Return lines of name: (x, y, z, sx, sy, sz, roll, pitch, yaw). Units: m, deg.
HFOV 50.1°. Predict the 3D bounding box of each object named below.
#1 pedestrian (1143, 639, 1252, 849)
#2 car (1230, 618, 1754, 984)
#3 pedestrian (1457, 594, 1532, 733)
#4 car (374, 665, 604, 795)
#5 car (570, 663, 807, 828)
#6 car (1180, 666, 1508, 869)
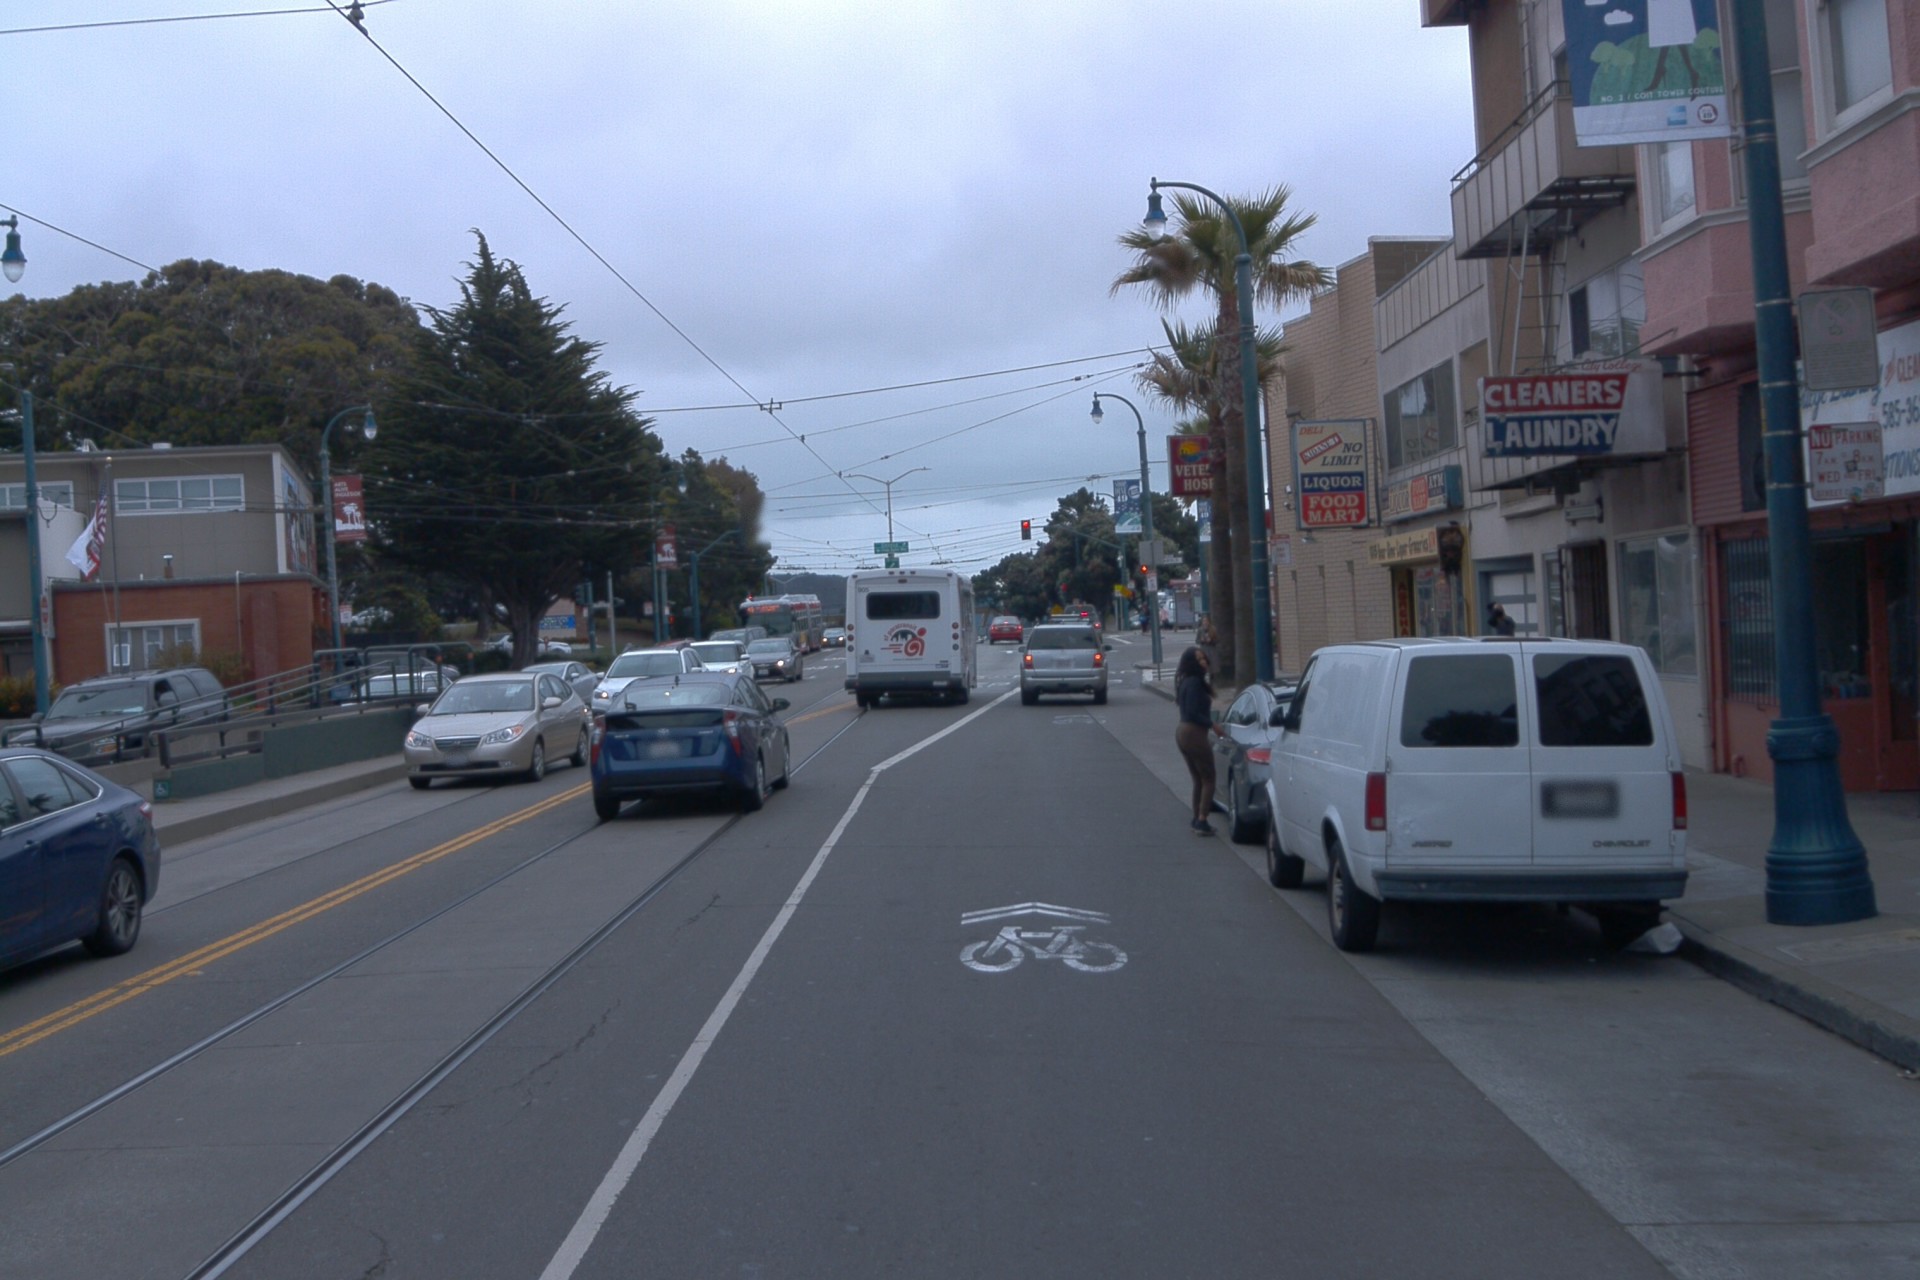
pedestrian: (2.198, 0.928, 18.926, 0.853, 1.860, 0.976, 0, 1, 16)
car: (3.271, 0.873, 13.849, 2.315, 2.000, 4.859, 0, 1, 1)
pedestrian: (7.078, 0.301, 27.247, 0.806, 1.820, 0.856, 0, 1, 3)
car: (-6.474, 1.192, 28.796, 2.032, 1.540, 4.442, 0, 1, 3)
car: (-2.894, 1.088, 22.837, 1.972, 1.540, 4.259, 0, 1, 1)
car: (3.468, 1.098, 19.624, 2.201, 1.540, 4.890, 0, 1, 0)
